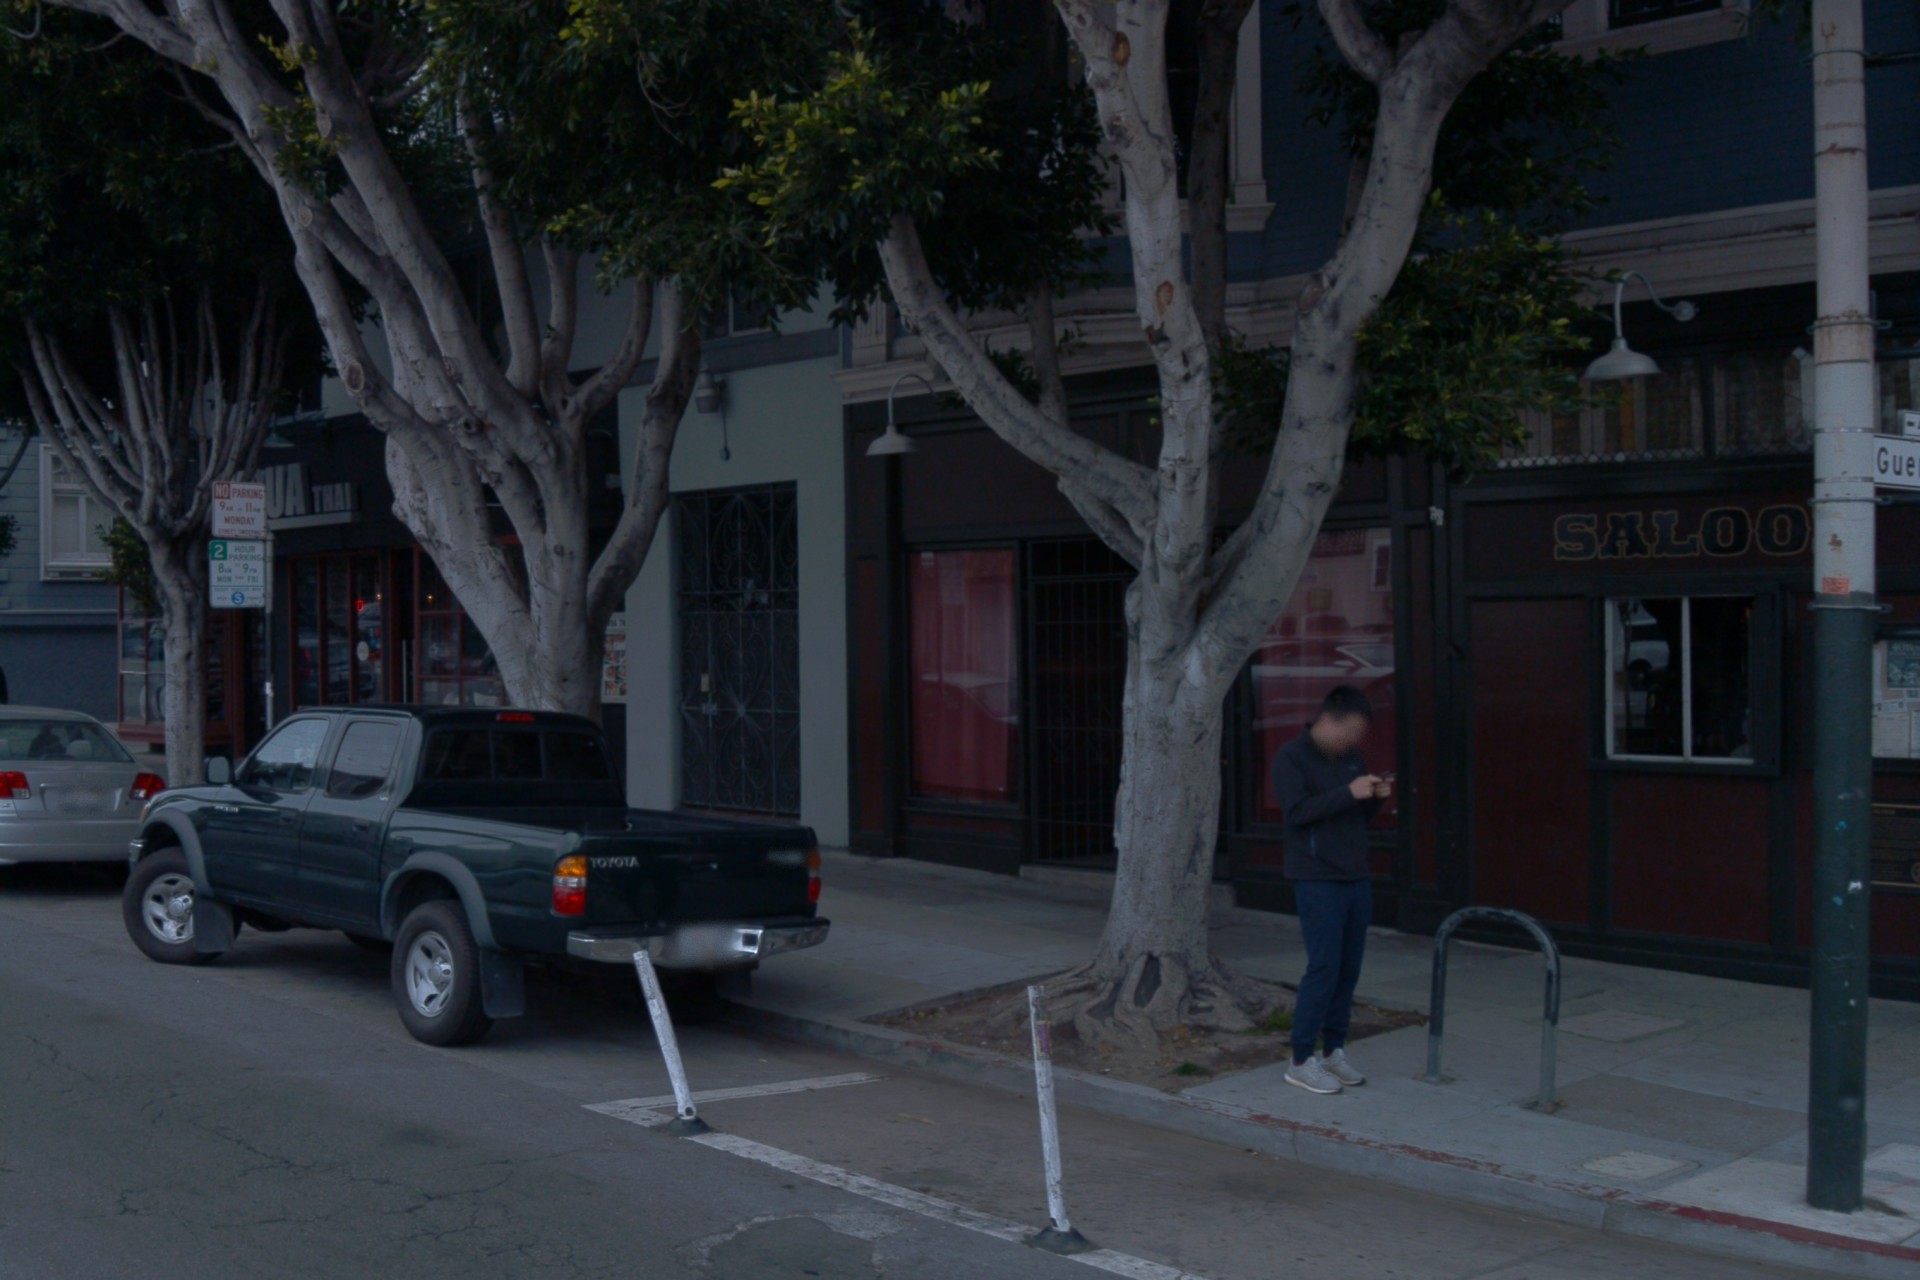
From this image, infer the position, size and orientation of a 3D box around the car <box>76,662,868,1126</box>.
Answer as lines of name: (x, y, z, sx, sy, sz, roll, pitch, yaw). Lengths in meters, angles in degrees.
car: (-3.104, 1.209, 12.214, 2.081, 2.060, 5.309, -1, 1, -45)

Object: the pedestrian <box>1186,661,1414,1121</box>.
pedestrian: (1.603, 1.123, 9.740, 0.802, 2.030, 0.731, -1, 1, -45)
